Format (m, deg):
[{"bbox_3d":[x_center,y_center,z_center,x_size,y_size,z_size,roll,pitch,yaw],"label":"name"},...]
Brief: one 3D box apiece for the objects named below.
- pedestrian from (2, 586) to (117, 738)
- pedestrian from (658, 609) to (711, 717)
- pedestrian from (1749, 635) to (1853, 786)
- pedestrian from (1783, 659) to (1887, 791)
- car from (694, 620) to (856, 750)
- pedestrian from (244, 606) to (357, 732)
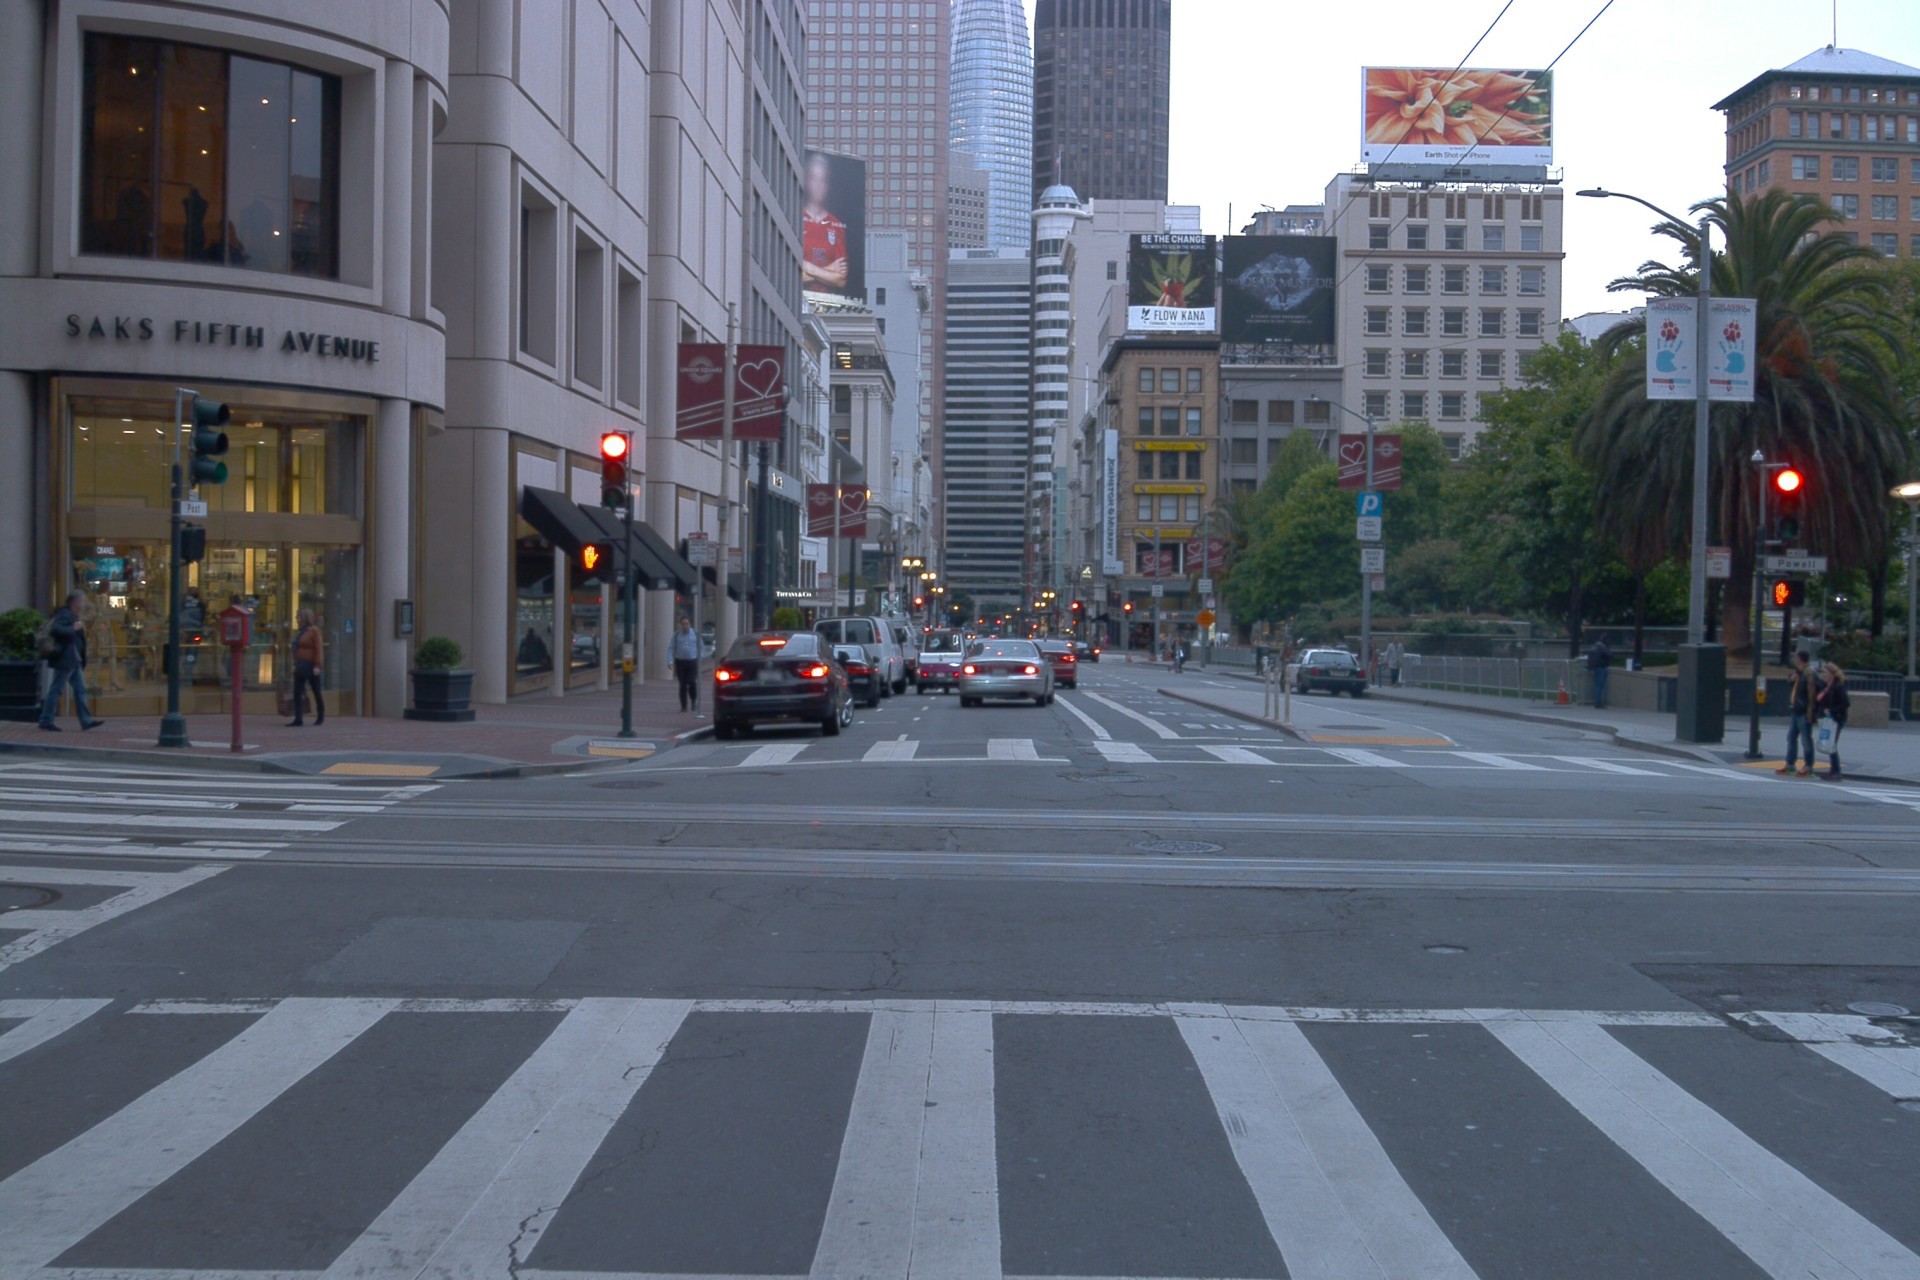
[{"bbox_3d":[-11.180,0.263,25.432,1.127,1.840,0.899,0,1,-11],"label":"pedestrian"},{"bbox_3d":[-5.058,0.414,37.636,0.841,1.960,0.836,0,1,2],"label":"pedestrian"},{"bbox_3d":[11.266,0.924,27.418,0.955,1.970,0.835,0,1,-18],"label":"pedestrian"},{"bbox_3d":[11.466,1.100,26.820,0.930,1.681,0.821,0,1,-19],"label":"pedestrian"},{"bbox_3d":[-2.812,0.636,31.998,2.120,1.887,4.385,0,1,0],"label":"car"},{"bbox_3d":[-9.092,0.379,28.221,1.011,1.690,1.106,0,1,24],"label":"pedestrian"}]
